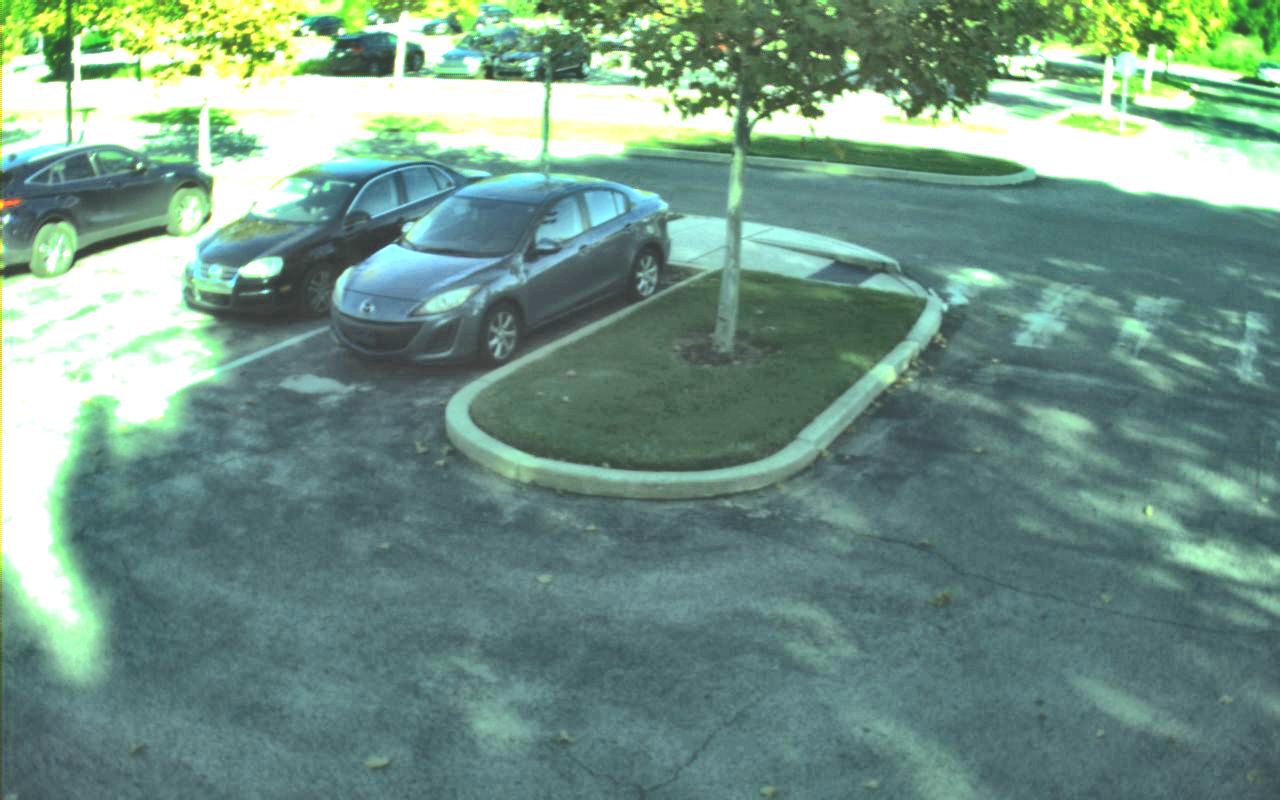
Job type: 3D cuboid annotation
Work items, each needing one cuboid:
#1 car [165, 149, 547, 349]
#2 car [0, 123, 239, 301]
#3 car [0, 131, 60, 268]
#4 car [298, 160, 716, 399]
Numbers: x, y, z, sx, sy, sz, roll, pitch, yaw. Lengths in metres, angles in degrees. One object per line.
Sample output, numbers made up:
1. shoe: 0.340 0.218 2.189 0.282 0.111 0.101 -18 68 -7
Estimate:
1. car: -3.207 -1.914 14.370 1.909 1.503 4.418 10 20 33
2. car: -7.984 -2.768 16.347 1.975 1.713 4.646 7 18 25
3. car: -12.583 -3.570 19.129 1.938 1.647 4.459 8 19 28
4. car: -1.158 -1.424 12.759 1.906 1.492 4.462 9 19 31
